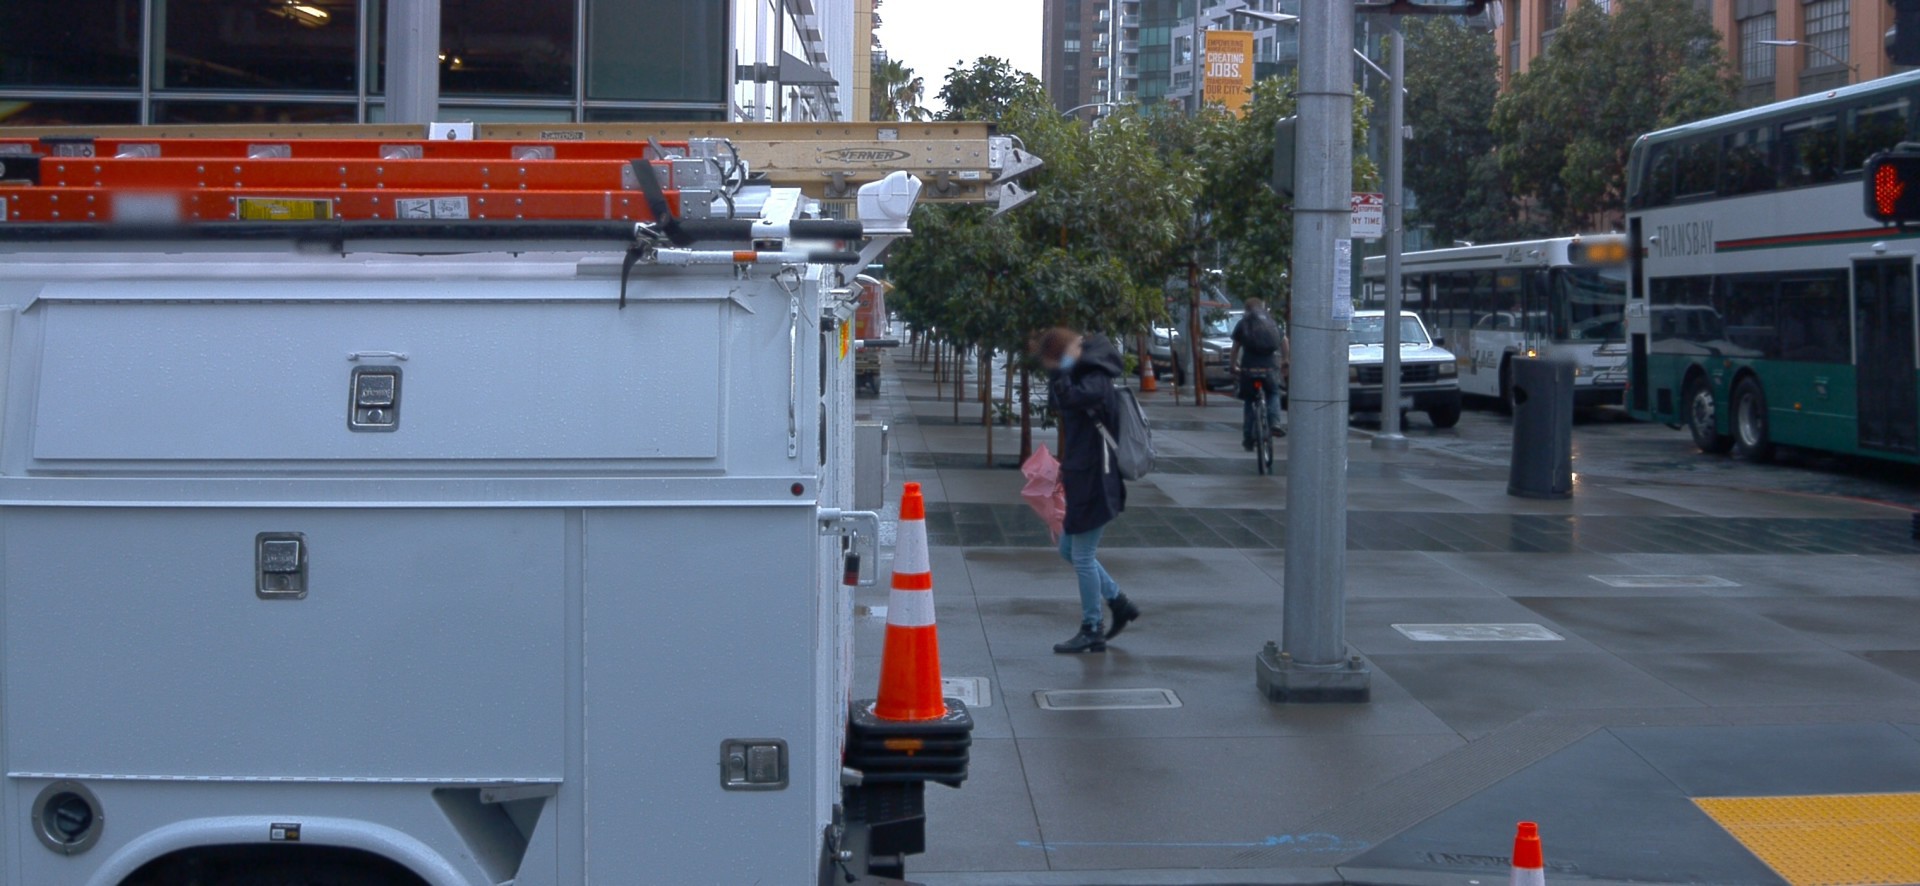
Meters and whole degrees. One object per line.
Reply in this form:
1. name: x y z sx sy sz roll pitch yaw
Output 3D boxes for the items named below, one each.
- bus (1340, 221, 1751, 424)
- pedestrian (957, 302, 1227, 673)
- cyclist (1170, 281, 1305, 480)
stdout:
1. bus: 9.877 -2.435 36.838 3.258 2.996 12.707 0 6 -2
2. pedestrian: 0.617 0.167 10.104 1.174 1.685 1.085 0 2 -5
3. cyclist: 2.658 -0.653 19.731 1.209 1.741 2.031 1 4 7
